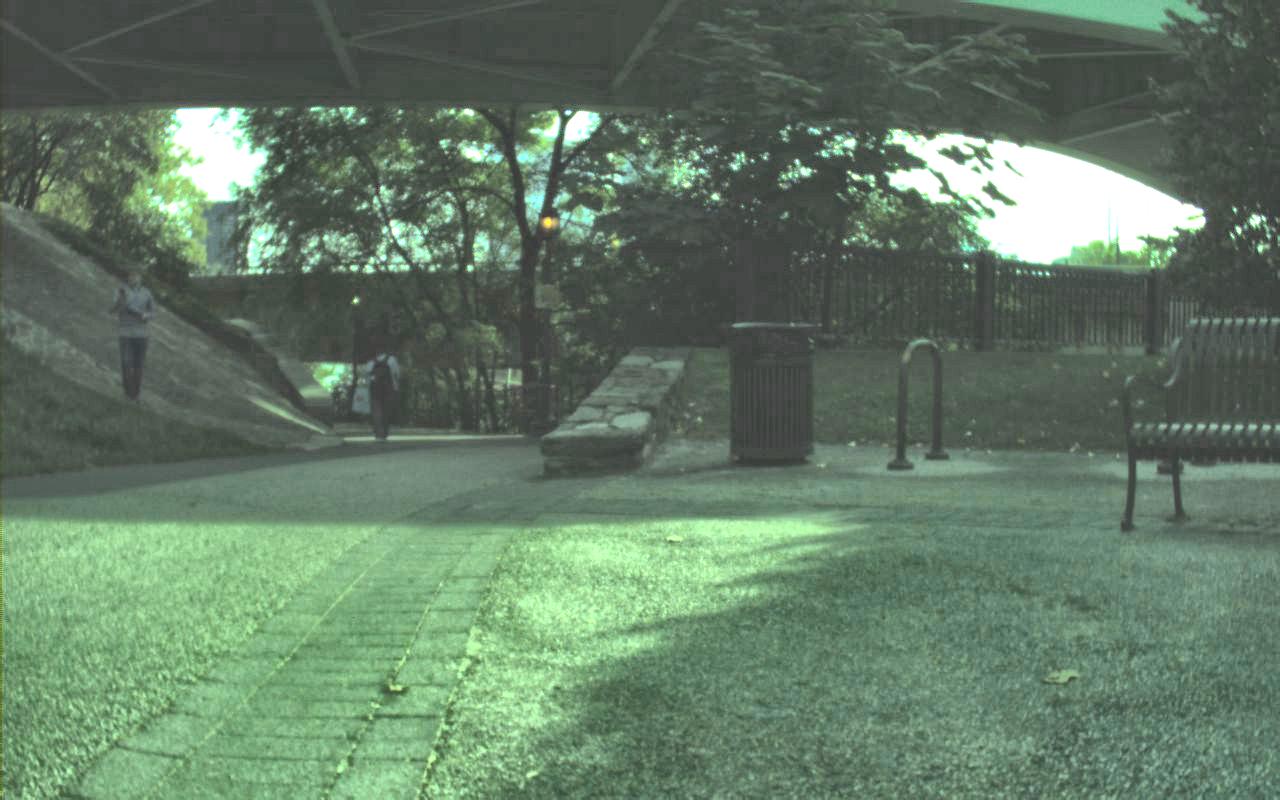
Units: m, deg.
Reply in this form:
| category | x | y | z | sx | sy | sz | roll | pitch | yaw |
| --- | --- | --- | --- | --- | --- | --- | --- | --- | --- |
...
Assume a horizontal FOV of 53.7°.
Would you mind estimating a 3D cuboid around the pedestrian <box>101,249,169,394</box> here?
| category | x | y | z | sx | sy | sz | roll | pitch | yaw |
| --- | --- | --- | --- | --- | --- | --- | --- | --- | --- |
| pedestrian | -6.499 | -0.959 | 14.994 | 0.748 | 1.818 | 0.712 | 0 | 0 | -38 |

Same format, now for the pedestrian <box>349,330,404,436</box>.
| category | x | y | z | sx | sy | sz | roll | pitch | yaw |
| --- | --- | --- | --- | --- | --- | --- | --- | --- | --- |
| pedestrian | -4.280 | -0.273 | 20.161 | 0.880 | 1.671 | 0.900 | 0 | 0 | -11 |
